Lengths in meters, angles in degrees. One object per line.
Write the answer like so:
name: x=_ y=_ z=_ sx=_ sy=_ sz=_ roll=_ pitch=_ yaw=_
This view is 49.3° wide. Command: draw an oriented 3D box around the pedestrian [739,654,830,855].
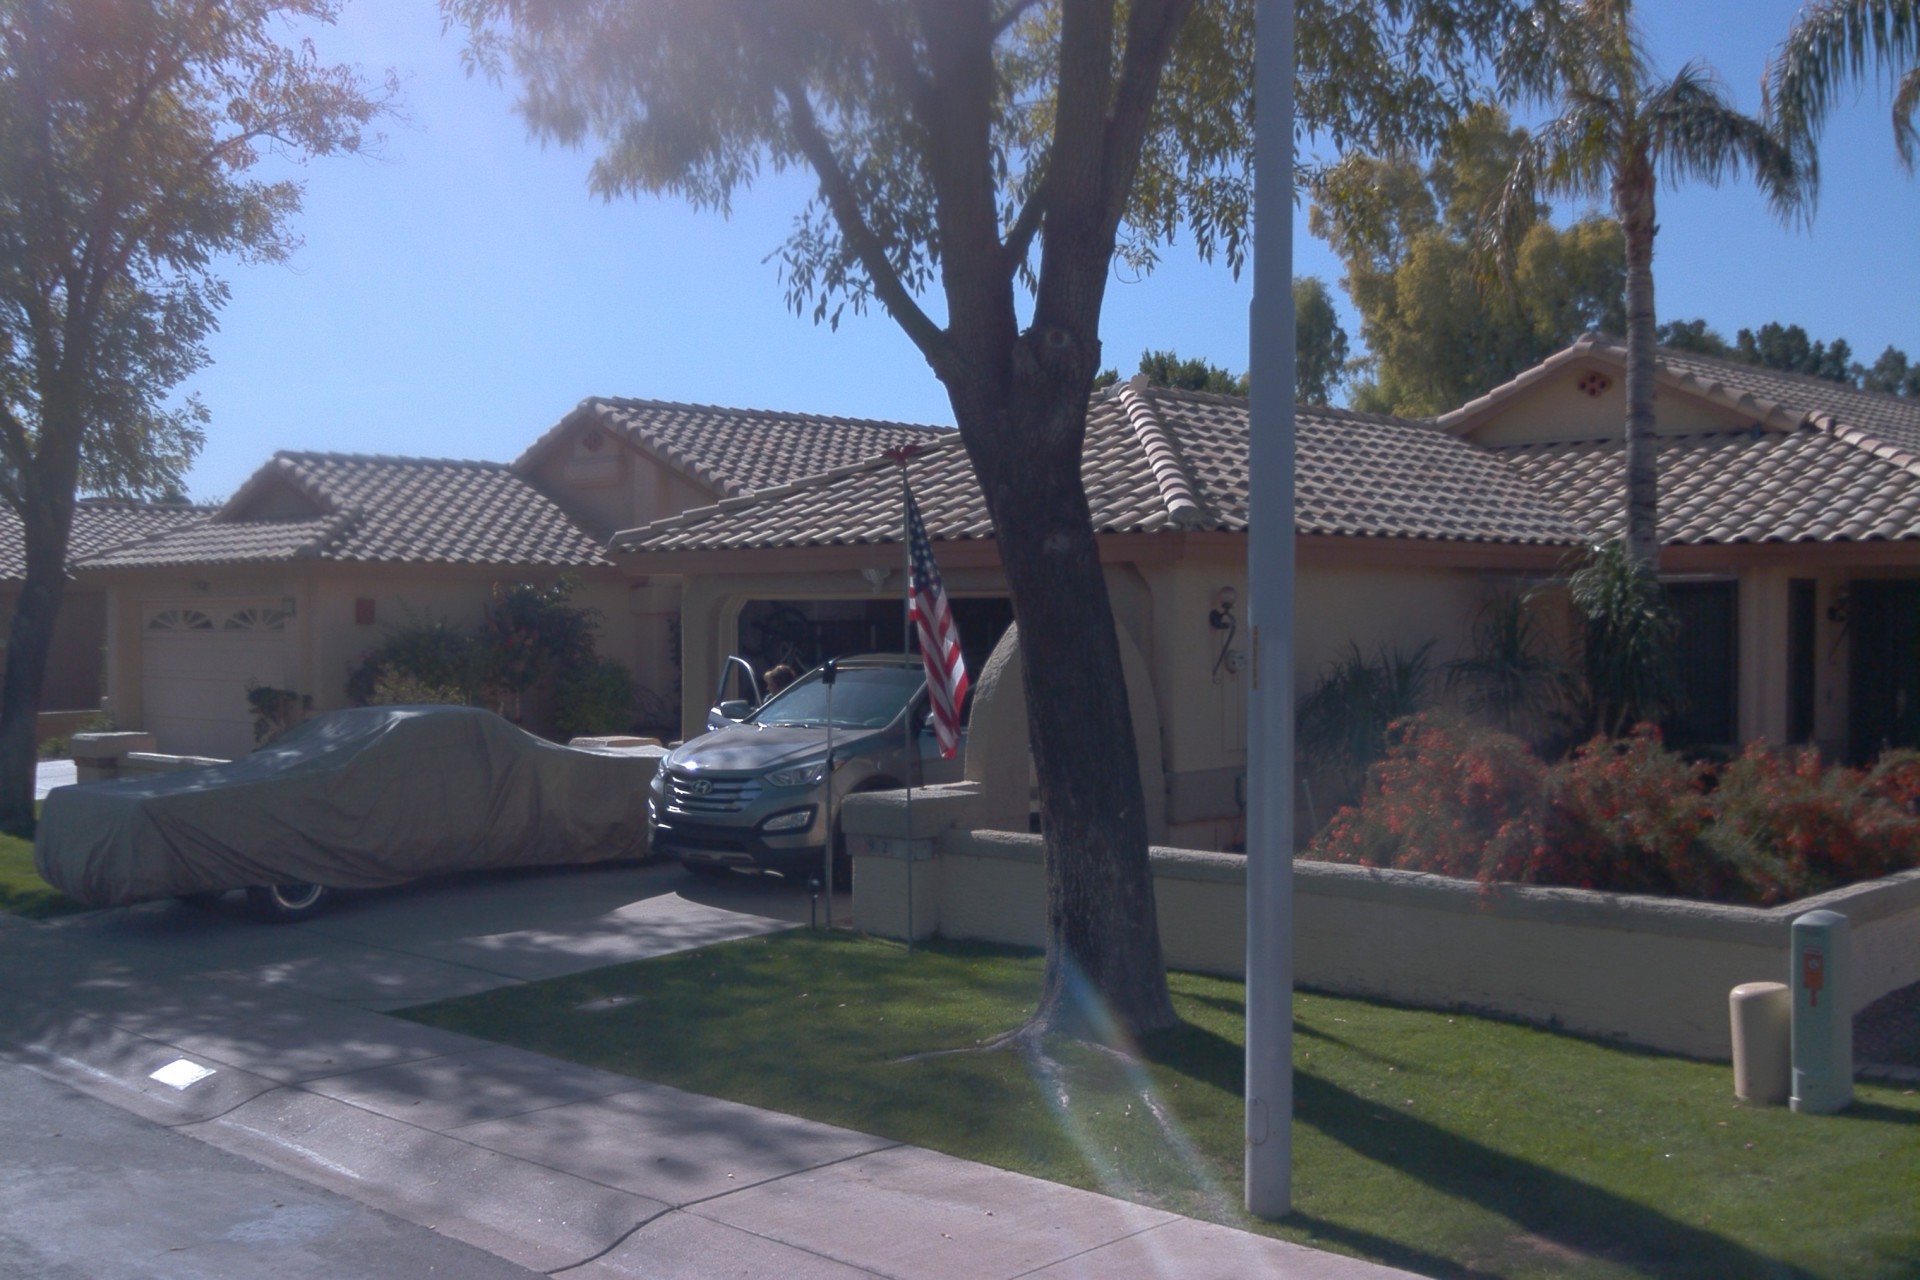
pedestrian: x=-1.447 y=0.931 z=17.347 sx=0.655 sy=1.630 sz=0.711 roll=0 pitch=0 yaw=3

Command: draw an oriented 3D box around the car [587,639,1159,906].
car: x=-0.548 y=0.922 z=16.655 sx=1.985 sy=1.820 sz=4.531 roll=0 pitch=0 yaw=41
